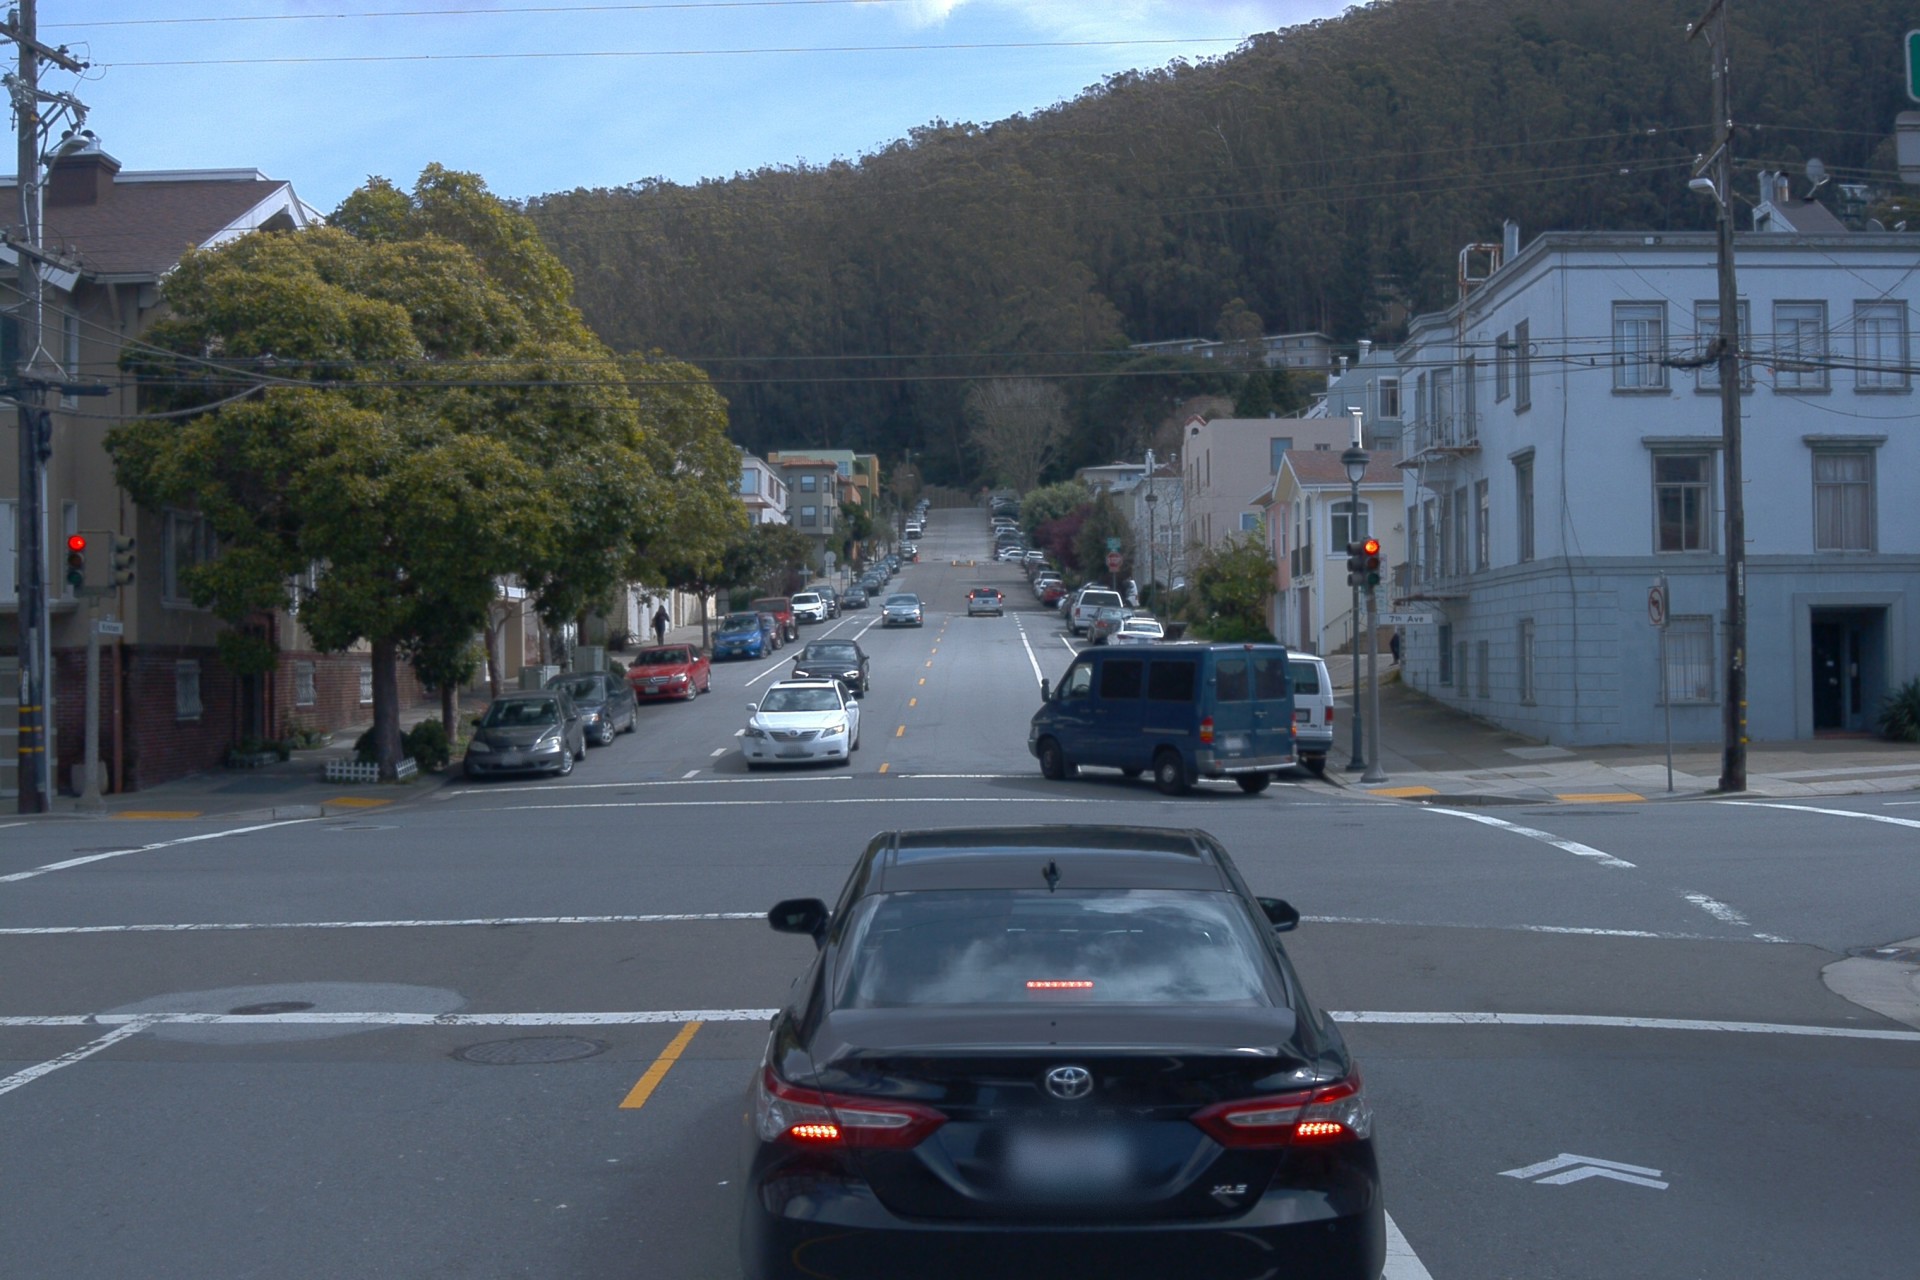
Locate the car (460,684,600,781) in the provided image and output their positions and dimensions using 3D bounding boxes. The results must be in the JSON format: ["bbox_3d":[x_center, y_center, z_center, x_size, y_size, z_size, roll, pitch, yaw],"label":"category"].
[{"bbox_3d":[-7.707,1.623,37.253,1.836,1.560,4.133,0,0,-3],"label":"car"}]

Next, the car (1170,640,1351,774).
[{"bbox_3d":[5.315,1.120,37.220,2.299,2.250,5.313,0,0,-2],"label":"car"}]

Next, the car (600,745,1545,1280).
[{"bbox_3d":[0.282,1.306,7.305,2.249,1.620,4.798,0,0,0],"label":"car"}]

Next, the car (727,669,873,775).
[{"bbox_3d":[-2.840,1.443,37.670,2.209,1.750,4.541,0,0,1],"label":"car"}]

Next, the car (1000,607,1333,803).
[{"bbox_3d":[3.191,0.950,32.947,2.619,2.850,5.091,0,0,-35],"label":"car"}]
